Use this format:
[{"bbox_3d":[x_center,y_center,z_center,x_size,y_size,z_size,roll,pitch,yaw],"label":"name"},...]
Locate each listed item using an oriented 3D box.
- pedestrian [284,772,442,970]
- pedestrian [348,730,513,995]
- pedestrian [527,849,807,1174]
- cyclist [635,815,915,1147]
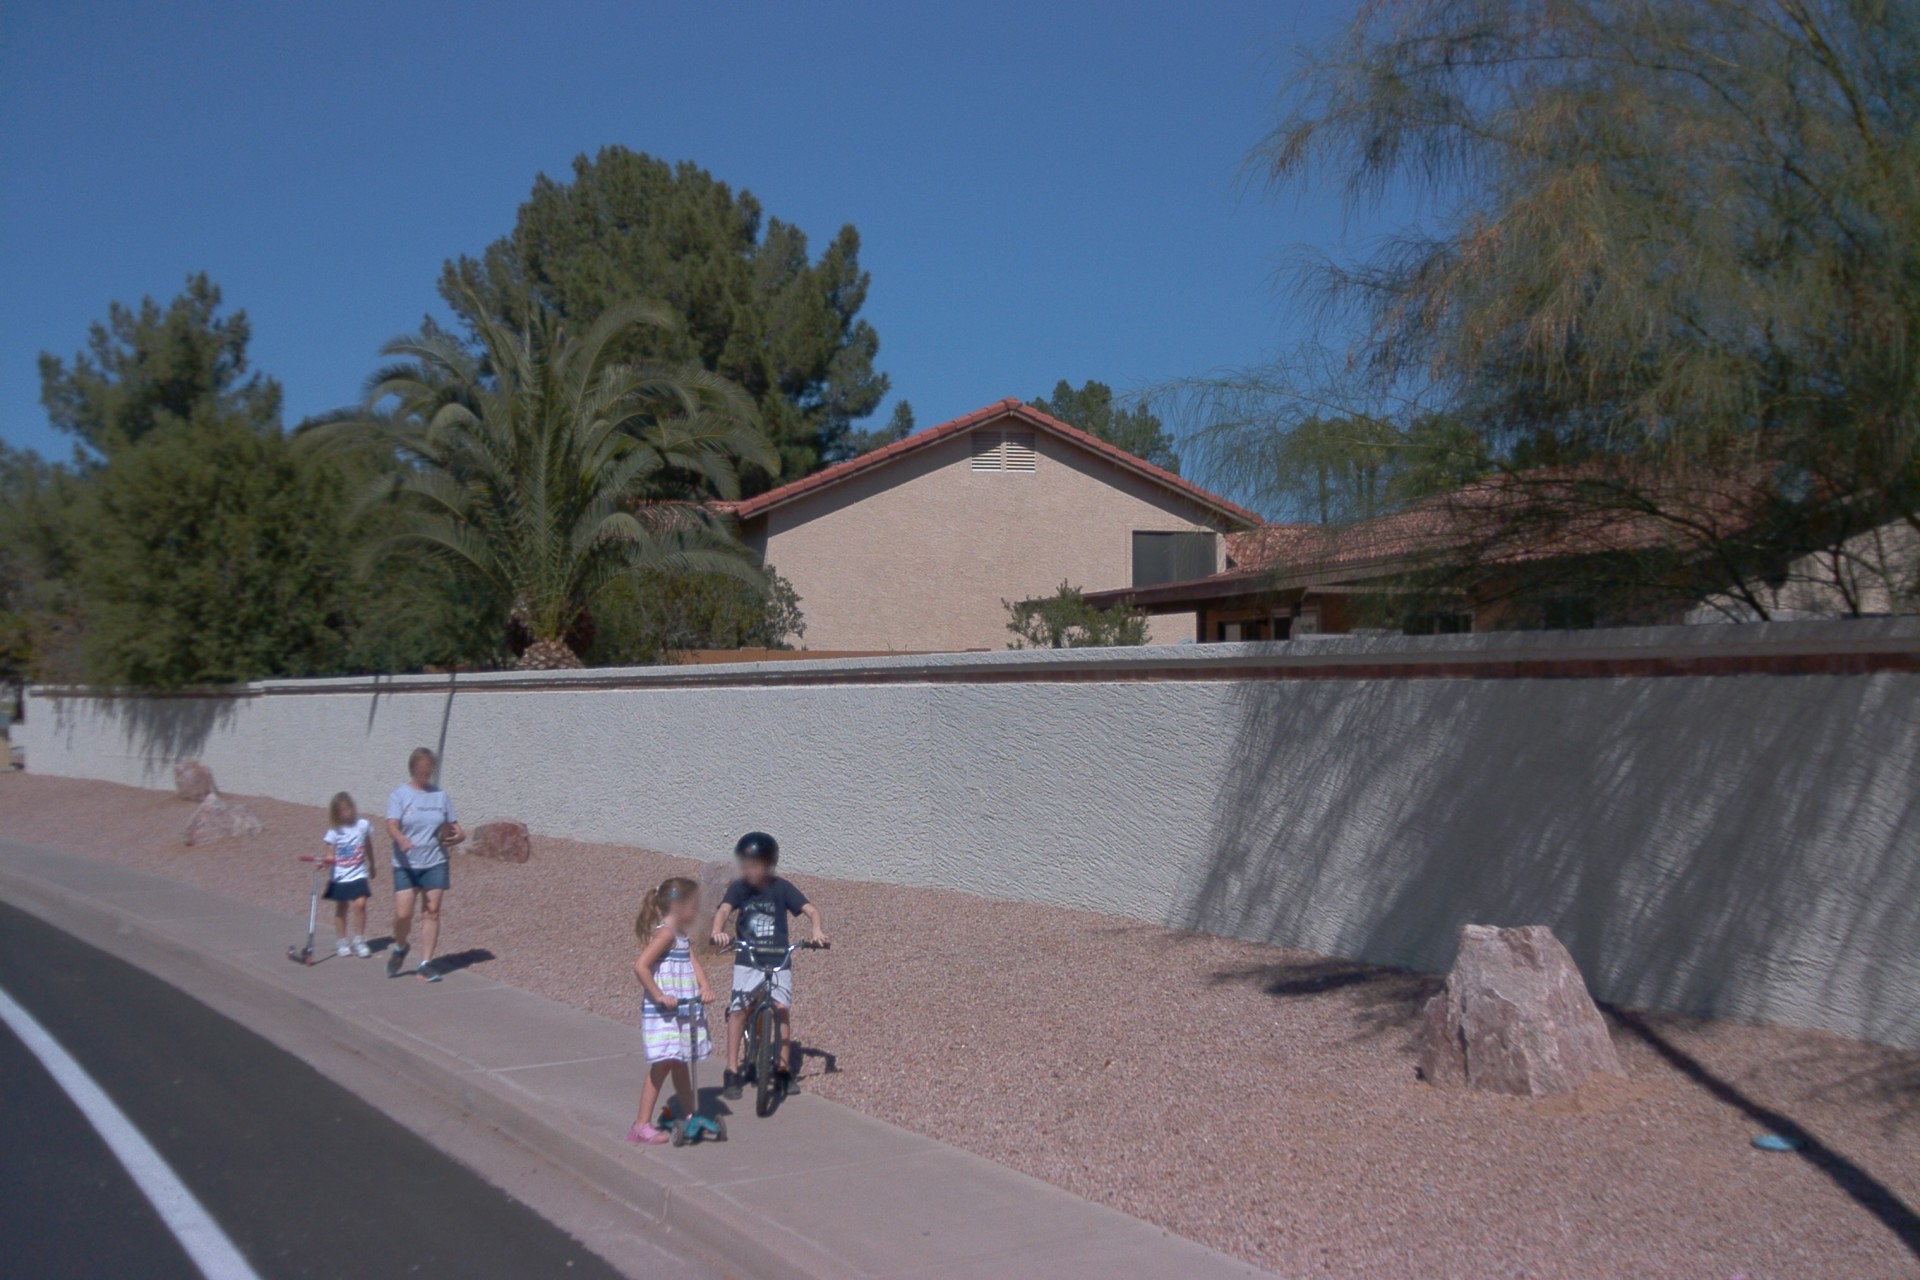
[{"bbox_3d":[-4.748,1.799,16.428,0.993,1.440,1.007,1,-1,-29],"label":"pedestrian"},{"bbox_3d":[-3.872,1.582,15.103,0.879,1.800,1.066,1,-1,-31],"label":"pedestrian"},{"bbox_3d":[-1.372,1.668,9.585,0.993,1.280,1.007,1,-1,-27],"label":"pedestrian"},{"bbox_3d":[-0.974,1.672,10.556,0.915,1.430,1.472,1,-1,-27],"label":"cyclist"}]
